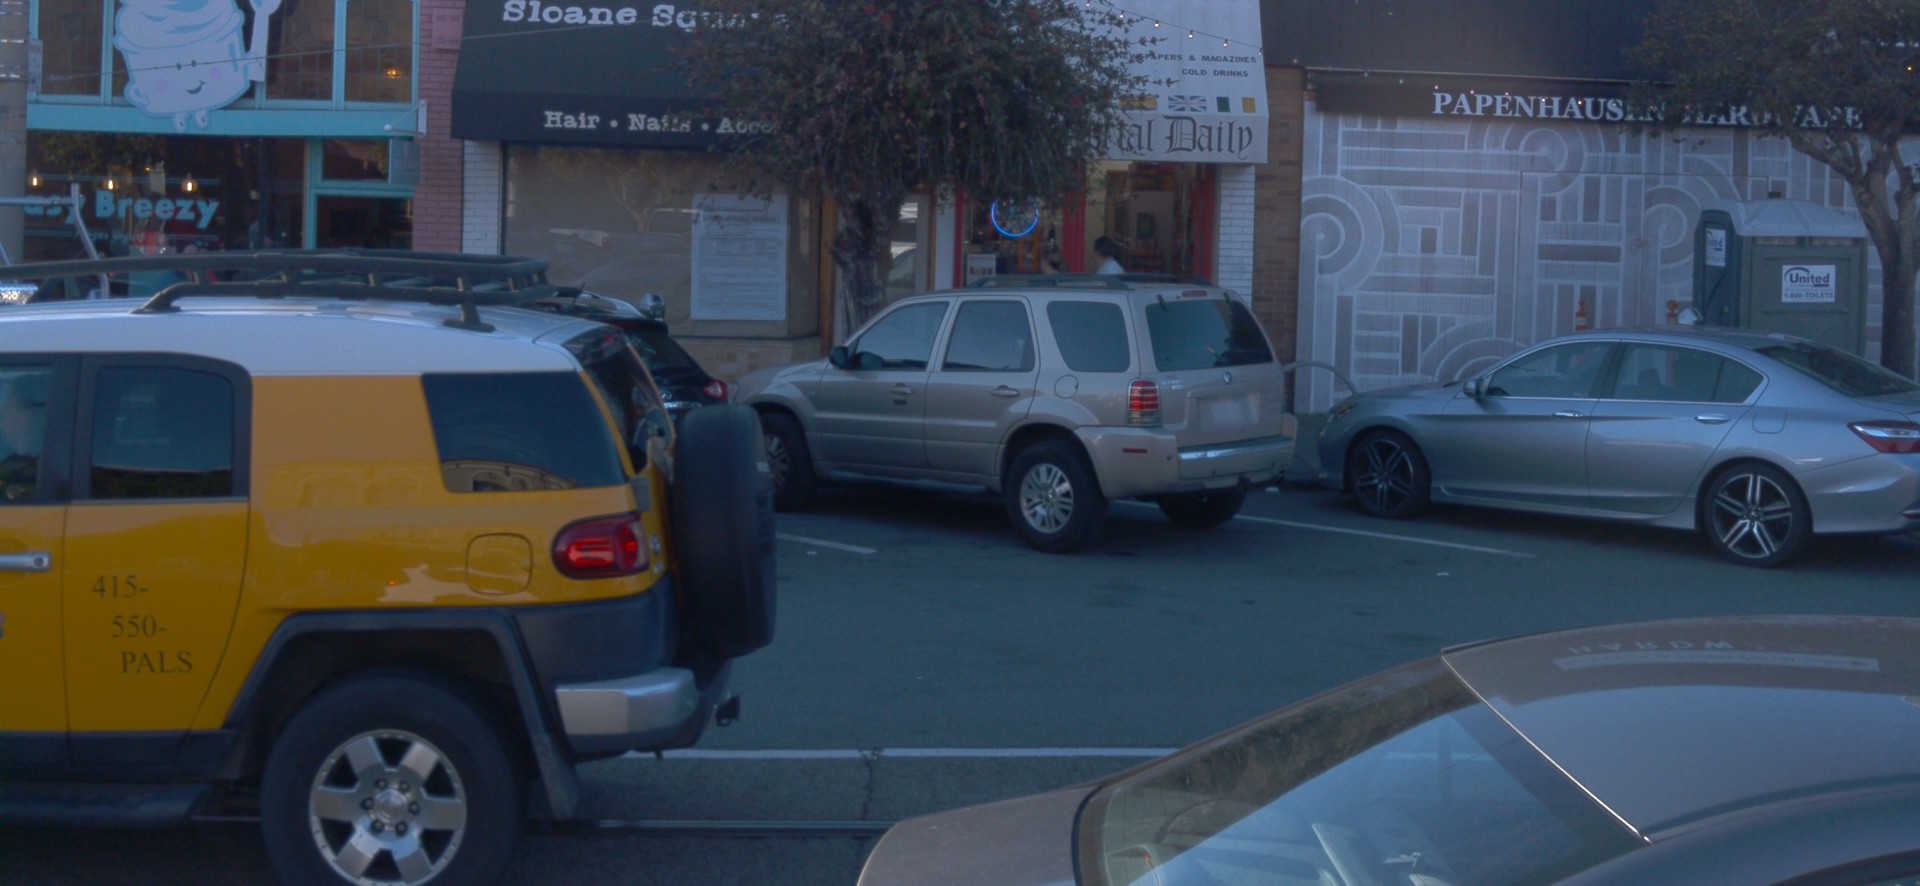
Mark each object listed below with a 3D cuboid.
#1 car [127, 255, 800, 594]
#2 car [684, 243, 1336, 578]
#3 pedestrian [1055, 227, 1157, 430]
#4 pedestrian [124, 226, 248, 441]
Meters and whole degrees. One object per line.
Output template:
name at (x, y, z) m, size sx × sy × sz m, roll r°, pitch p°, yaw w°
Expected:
car at (-3.465, -0.306, 14.059) m, size 4.523 × 1.793 × 2.116 m, roll 6°, pitch 6°, yaw 39°
car at (0.246, -0.402, 14.594) m, size 4.242 × 1.893 × 2.078 m, roll 6°, pitch 6°, yaw 42°
pedestrian at (1.340, -1.077, 19.206) m, size 0.734 × 1.816 × 0.919 m, roll 1°, pitch 2°, yaw -9°
pedestrian at (-6.546, -0.948, 17.585) m, size 0.725 × 1.757 × 0.809 m, roll 1°, pitch 2°, yaw 0°
